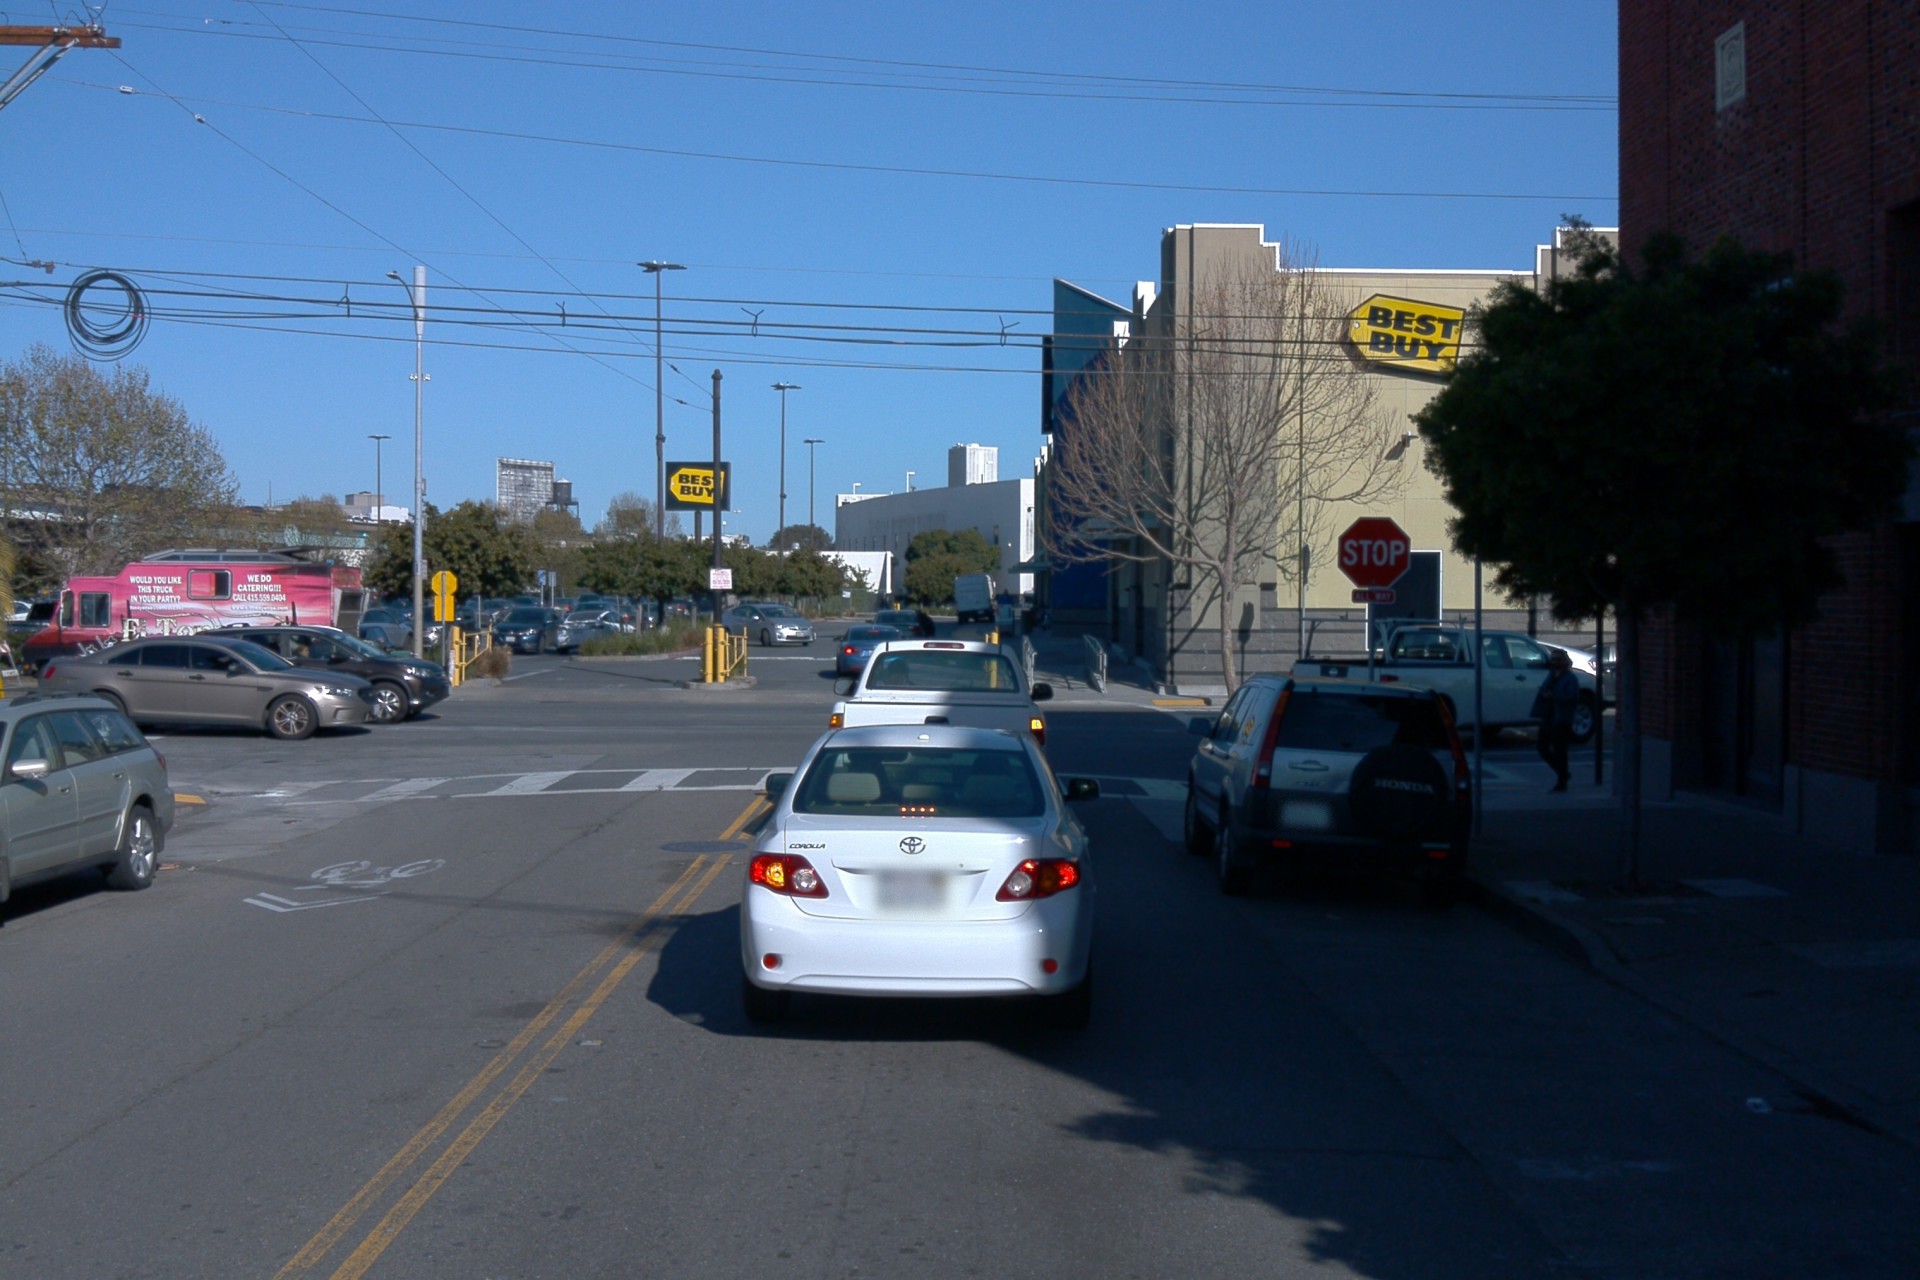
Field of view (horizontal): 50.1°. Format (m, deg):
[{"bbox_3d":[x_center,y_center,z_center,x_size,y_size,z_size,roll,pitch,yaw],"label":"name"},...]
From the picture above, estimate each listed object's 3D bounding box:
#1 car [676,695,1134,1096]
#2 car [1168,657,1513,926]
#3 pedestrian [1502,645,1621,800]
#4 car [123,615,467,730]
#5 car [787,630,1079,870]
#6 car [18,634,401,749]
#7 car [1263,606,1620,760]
[{"bbox_3d":[-0.196,1.215,11.547,2.045,1.580,4.504,1,1,1],"label":"car"},{"bbox_3d":[2.857,1.072,16.440,2.017,1.730,4.285,1,1,1],"label":"car"},{"bbox_3d":[7.170,0.972,24.545,1.038,1.802,0.873,1,1,-11],"label":"pedestrian"},{"bbox_3d":[-11.078,0.529,34.555,5.153,1.790,2.032,1,1,-4],"label":"car"},{"bbox_3d":[-0.187,0.894,19.805,2.386,1.880,5.557,1,1,1],"label":"car"},{"bbox_3d":[-11.520,0.771,31.822,5.171,1.600,2.059,1,1,-1],"label":"car"},{"bbox_3d":[7.473,0.600,31.611,5.550,2.140,2.389,0,1,-39],"label":"car"}]
